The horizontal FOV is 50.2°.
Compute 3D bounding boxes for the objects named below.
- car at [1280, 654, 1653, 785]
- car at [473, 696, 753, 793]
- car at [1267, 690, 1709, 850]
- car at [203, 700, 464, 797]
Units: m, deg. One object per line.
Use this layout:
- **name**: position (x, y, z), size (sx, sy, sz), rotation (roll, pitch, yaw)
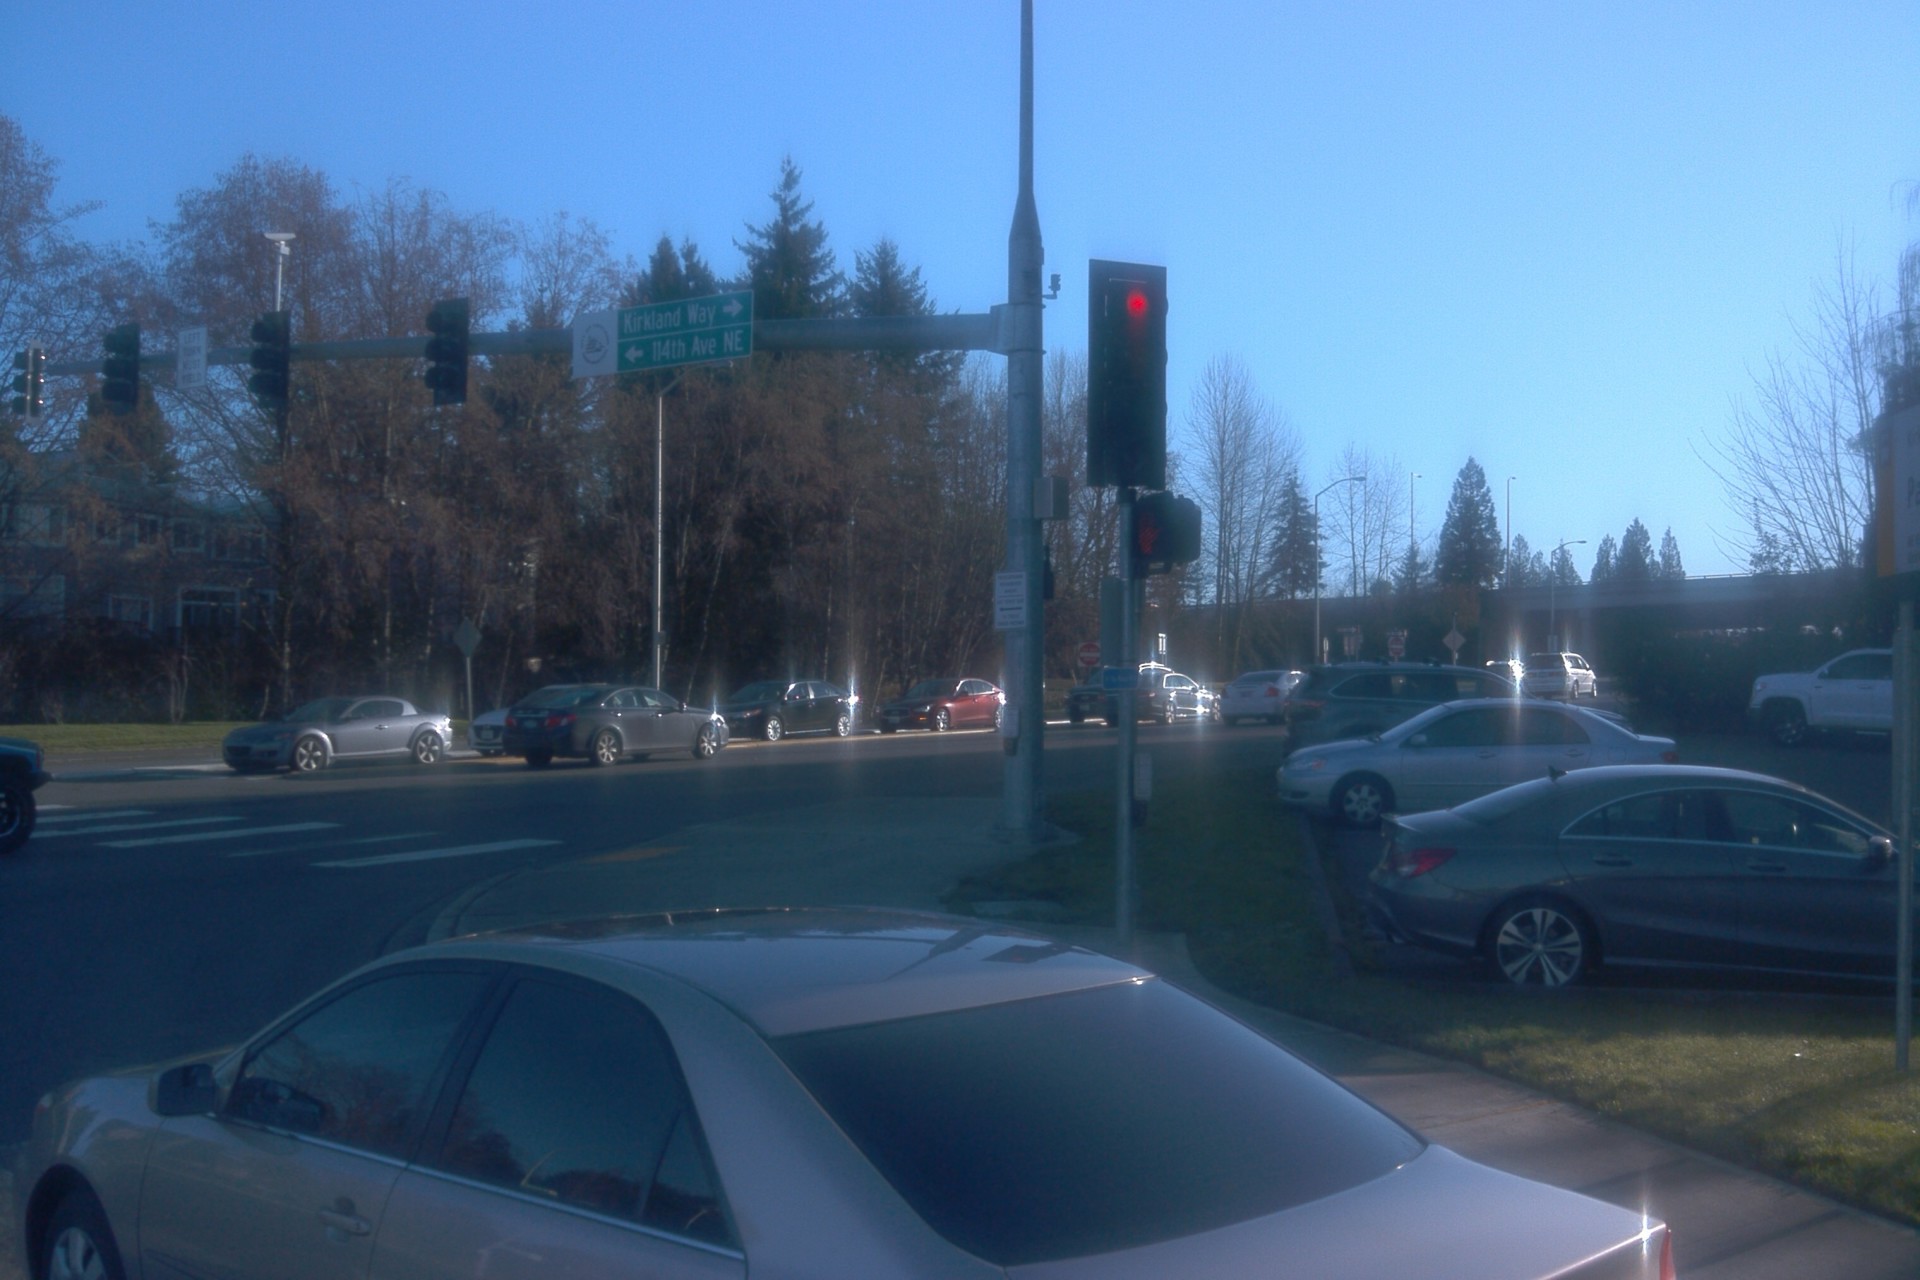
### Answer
- **car**: position (7.007, 1.077, 28.821), size (4.869, 1.700, 2.043), rotation (0, 0, 7)
- **car**: position (-6.188, 1.833, 37.116), size (2.158, 1.440, 5.066), rotation (1, 1, 33)
- **car**: position (5.908, 1.442, 23.459), size (4.657, 1.620, 2.051), rotation (0, 0, 7)
- **car**: position (-11.035, 1.879, 36.360), size (1.817, 1.450, 4.298), rotation (1, 1, 32)
